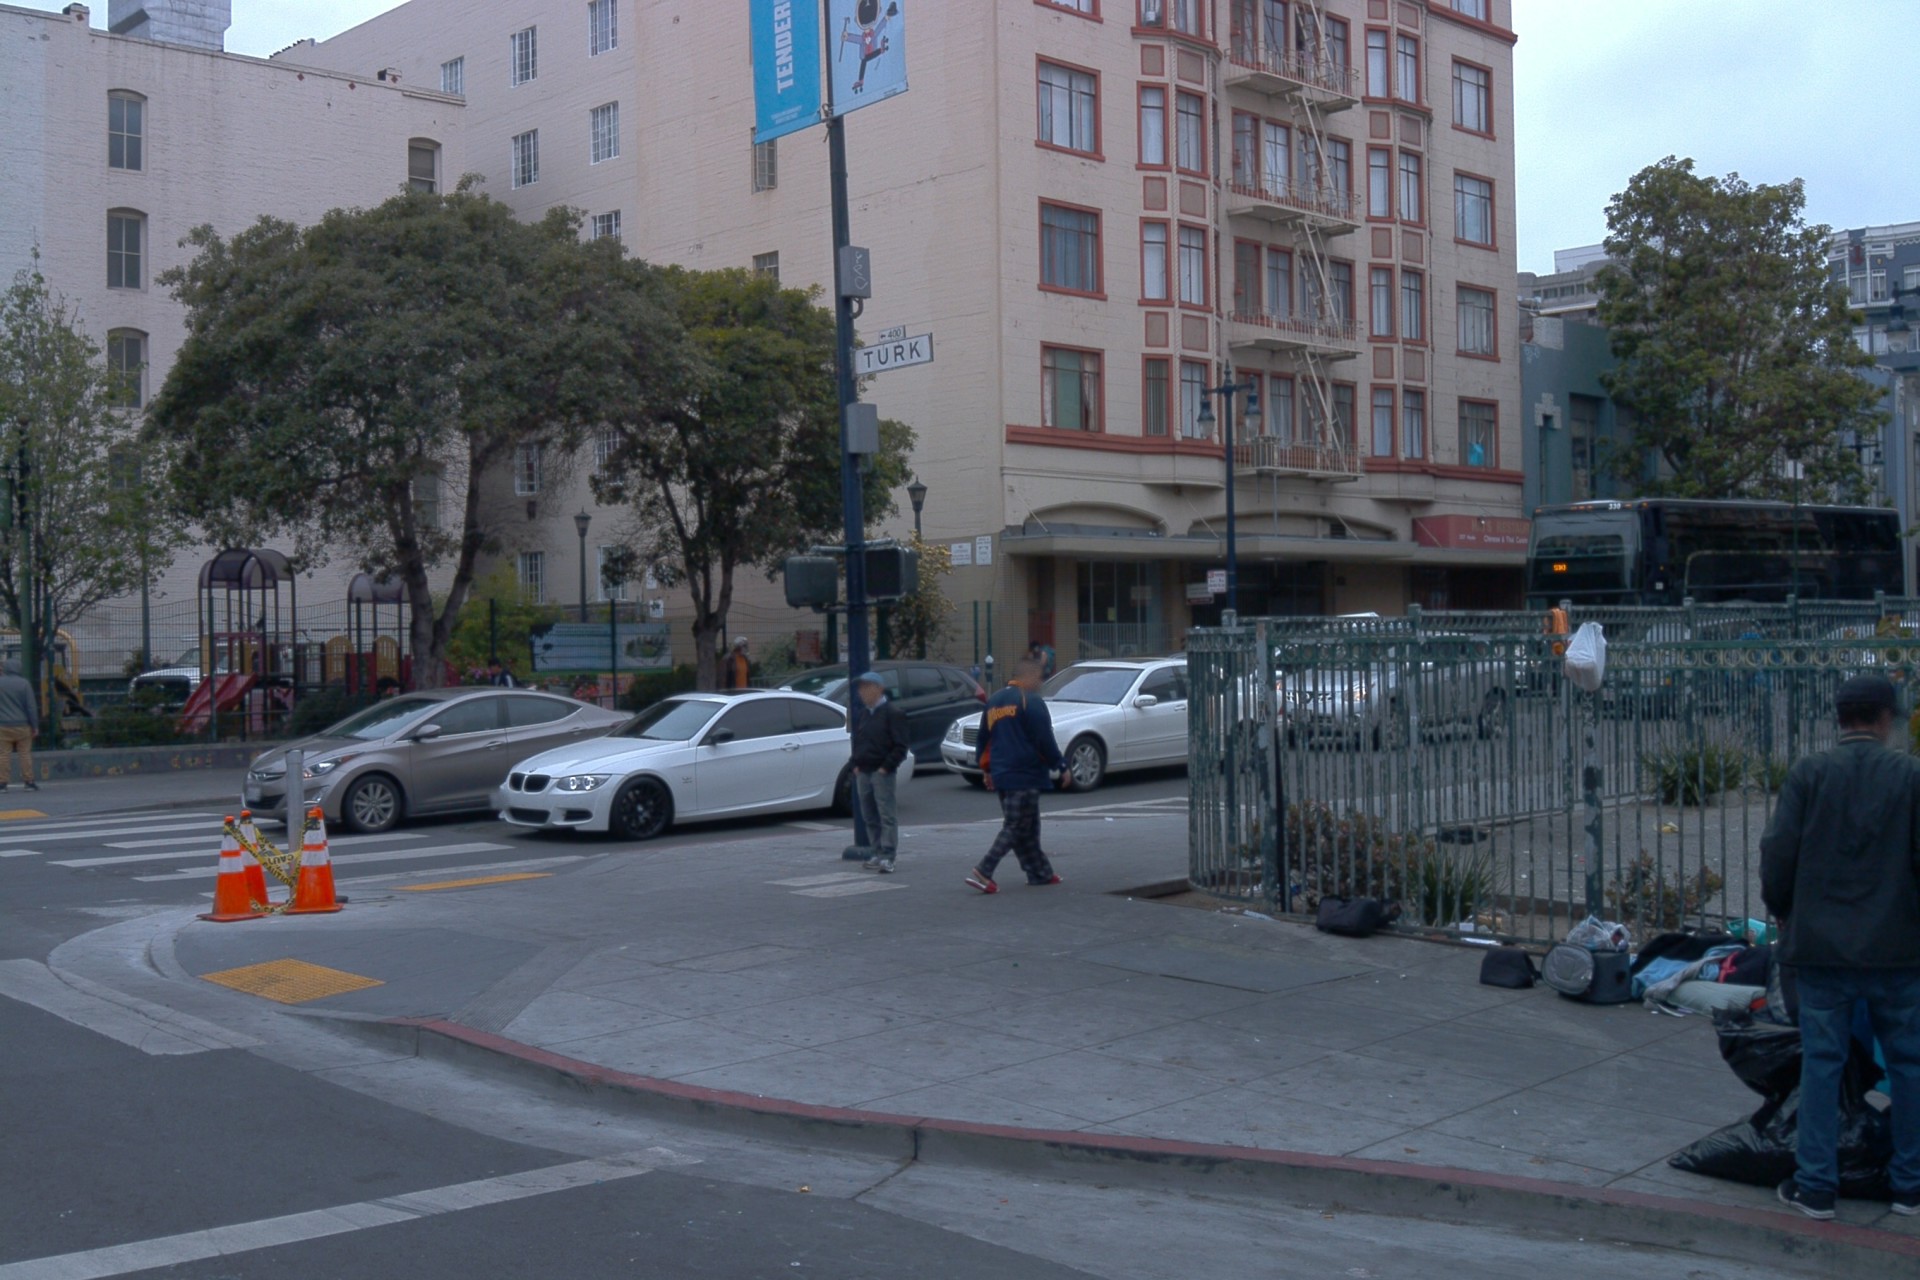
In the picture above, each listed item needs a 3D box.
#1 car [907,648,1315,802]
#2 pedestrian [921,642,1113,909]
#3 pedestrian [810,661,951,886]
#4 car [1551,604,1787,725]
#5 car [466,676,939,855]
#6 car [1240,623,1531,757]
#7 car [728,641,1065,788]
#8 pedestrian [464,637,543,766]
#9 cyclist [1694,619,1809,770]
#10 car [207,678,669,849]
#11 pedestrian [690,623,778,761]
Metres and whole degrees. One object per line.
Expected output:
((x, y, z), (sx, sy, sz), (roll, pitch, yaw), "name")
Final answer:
((1.950, 0.949, 25.376), (5.013, 1.630, 2.224), (-1, 1, -44), "car")
((0.398, 0.918, 14.664), (1.029, 1.800, 0.913), (0, 1, -32), "pedestrian")
((-0.619, 1.010, 16.098), (0.793, 1.670, 0.781), (-1, 1, -36), "pedestrian")
((12.382, 0.380, 35.937), (4.486, 1.980, 1.947), (-1, 1, -42), "car")
((-2.544, 1.192, 21.256), (4.584, 1.520, 1.930), (-1, 1, -44), "car")
((6.278, 0.660, 30.220), (4.436, 1.810, 2.035), (-1, 1, -44), "car")
((-0.757, 0.903, 27.063), (1.853, 1.730, 4.317), (1, 1, 45), "car")
((-7.271, 0.961, 32.926), (0.919, 2.010, 0.890), (-1, 1, -39), "pedestrian")
((9.610, 0.625, 25.031), (1.013, 1.750, 1.951), (0, 1, 30), "cyclist")
((-5.547, 1.243, 22.340), (4.454, 1.540, 1.957), (-1, 1, -44), "car")
((-3.692, 0.824, 33.681), (1.047, 2.200, 1.032), (-1, 1, -35), "pedestrian")
